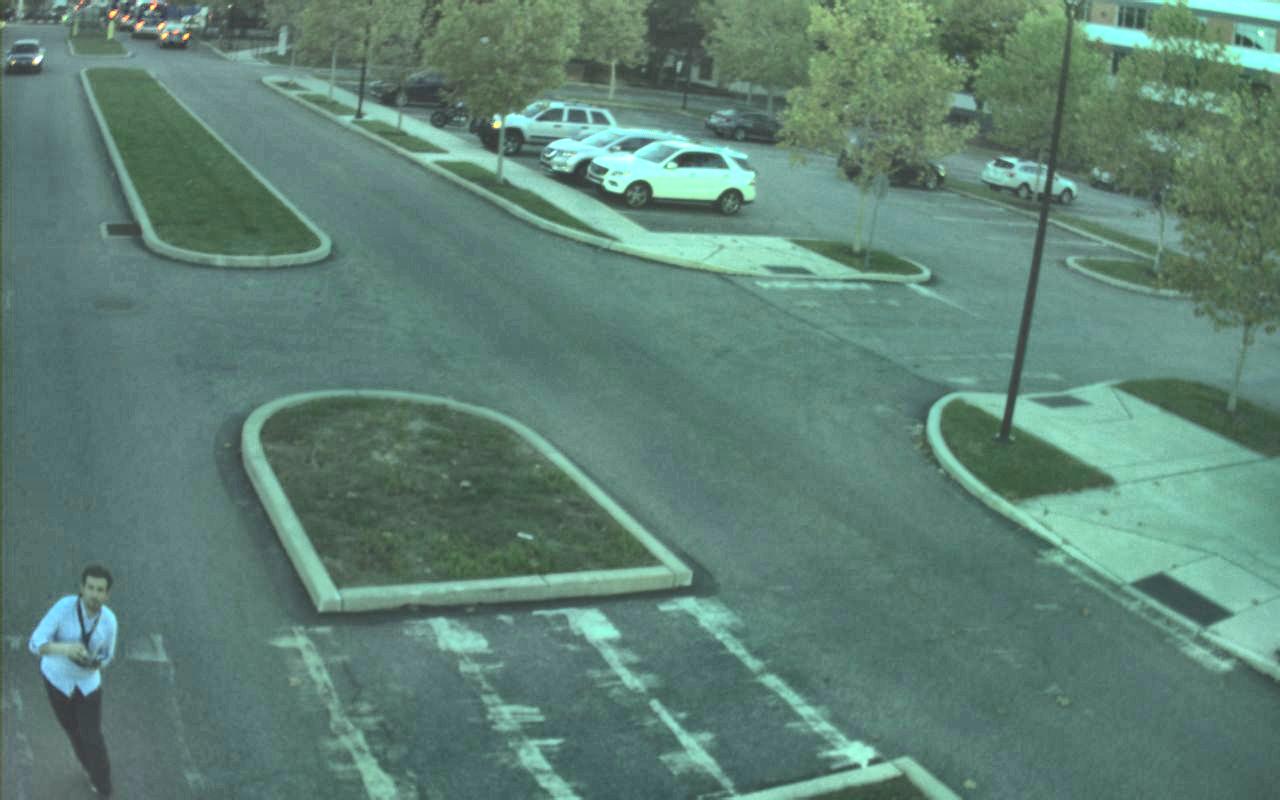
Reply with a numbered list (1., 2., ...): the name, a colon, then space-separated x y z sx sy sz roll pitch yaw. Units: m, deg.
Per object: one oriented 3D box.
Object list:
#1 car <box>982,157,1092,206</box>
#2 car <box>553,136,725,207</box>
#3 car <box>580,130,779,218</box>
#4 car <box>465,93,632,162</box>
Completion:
1. car: 16.760 -9.188 50.692 4.699 1.724 2.012 -8 17 -24
2. car: -0.012 -6.579 35.793 4.516 1.607 1.965 -9 17 -24
3. car: 1.096 -6.144 33.648 4.961 1.882 2.093 -9 18 -27
4. car: -2.955 -8.763 39.796 4.930 1.875 2.097 -8 17 -23
